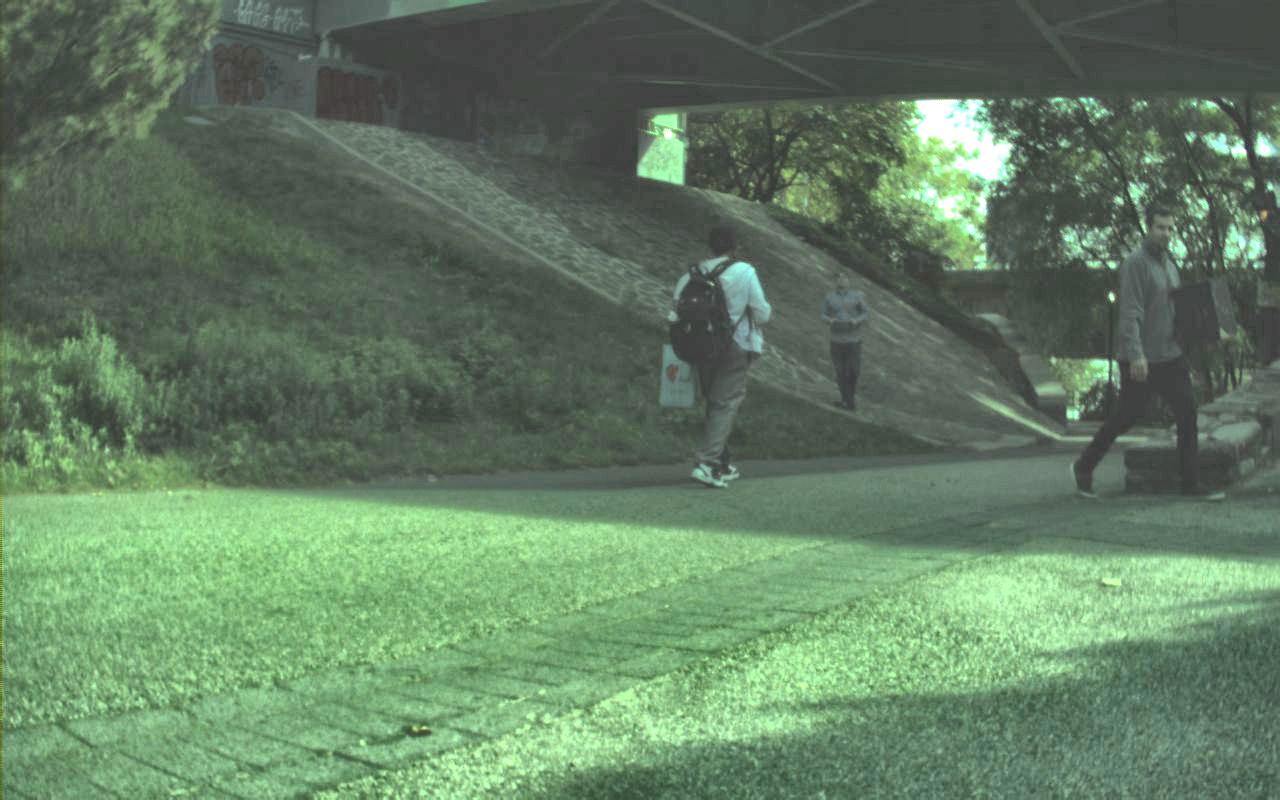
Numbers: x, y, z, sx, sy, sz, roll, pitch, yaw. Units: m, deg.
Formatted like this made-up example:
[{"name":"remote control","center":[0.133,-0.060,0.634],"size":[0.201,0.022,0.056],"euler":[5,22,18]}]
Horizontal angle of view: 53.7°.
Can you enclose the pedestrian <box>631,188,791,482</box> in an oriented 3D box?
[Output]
[{"name":"pedestrian","center":[0.466,-0.394,7.840],"size":[0.851,1.715,0.889],"euler":[0,0,12]}]

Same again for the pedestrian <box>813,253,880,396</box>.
[{"name":"pedestrian","center":[2.676,-0.960,16.151],"size":[0.758,1.794,0.762],"euler":[1,0,18]}]

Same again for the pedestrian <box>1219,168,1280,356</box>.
[{"name":"pedestrian","center":[6.646,-1.425,12.196],"size":[0.735,1.966,0.782],"euler":[0,0,20]}]

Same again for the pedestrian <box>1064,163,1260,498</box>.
[{"name":"pedestrian","center":[2.972,-0.365,6.614],"size":[0.828,1.747,0.872],"euler":[0,0,-34]}]
